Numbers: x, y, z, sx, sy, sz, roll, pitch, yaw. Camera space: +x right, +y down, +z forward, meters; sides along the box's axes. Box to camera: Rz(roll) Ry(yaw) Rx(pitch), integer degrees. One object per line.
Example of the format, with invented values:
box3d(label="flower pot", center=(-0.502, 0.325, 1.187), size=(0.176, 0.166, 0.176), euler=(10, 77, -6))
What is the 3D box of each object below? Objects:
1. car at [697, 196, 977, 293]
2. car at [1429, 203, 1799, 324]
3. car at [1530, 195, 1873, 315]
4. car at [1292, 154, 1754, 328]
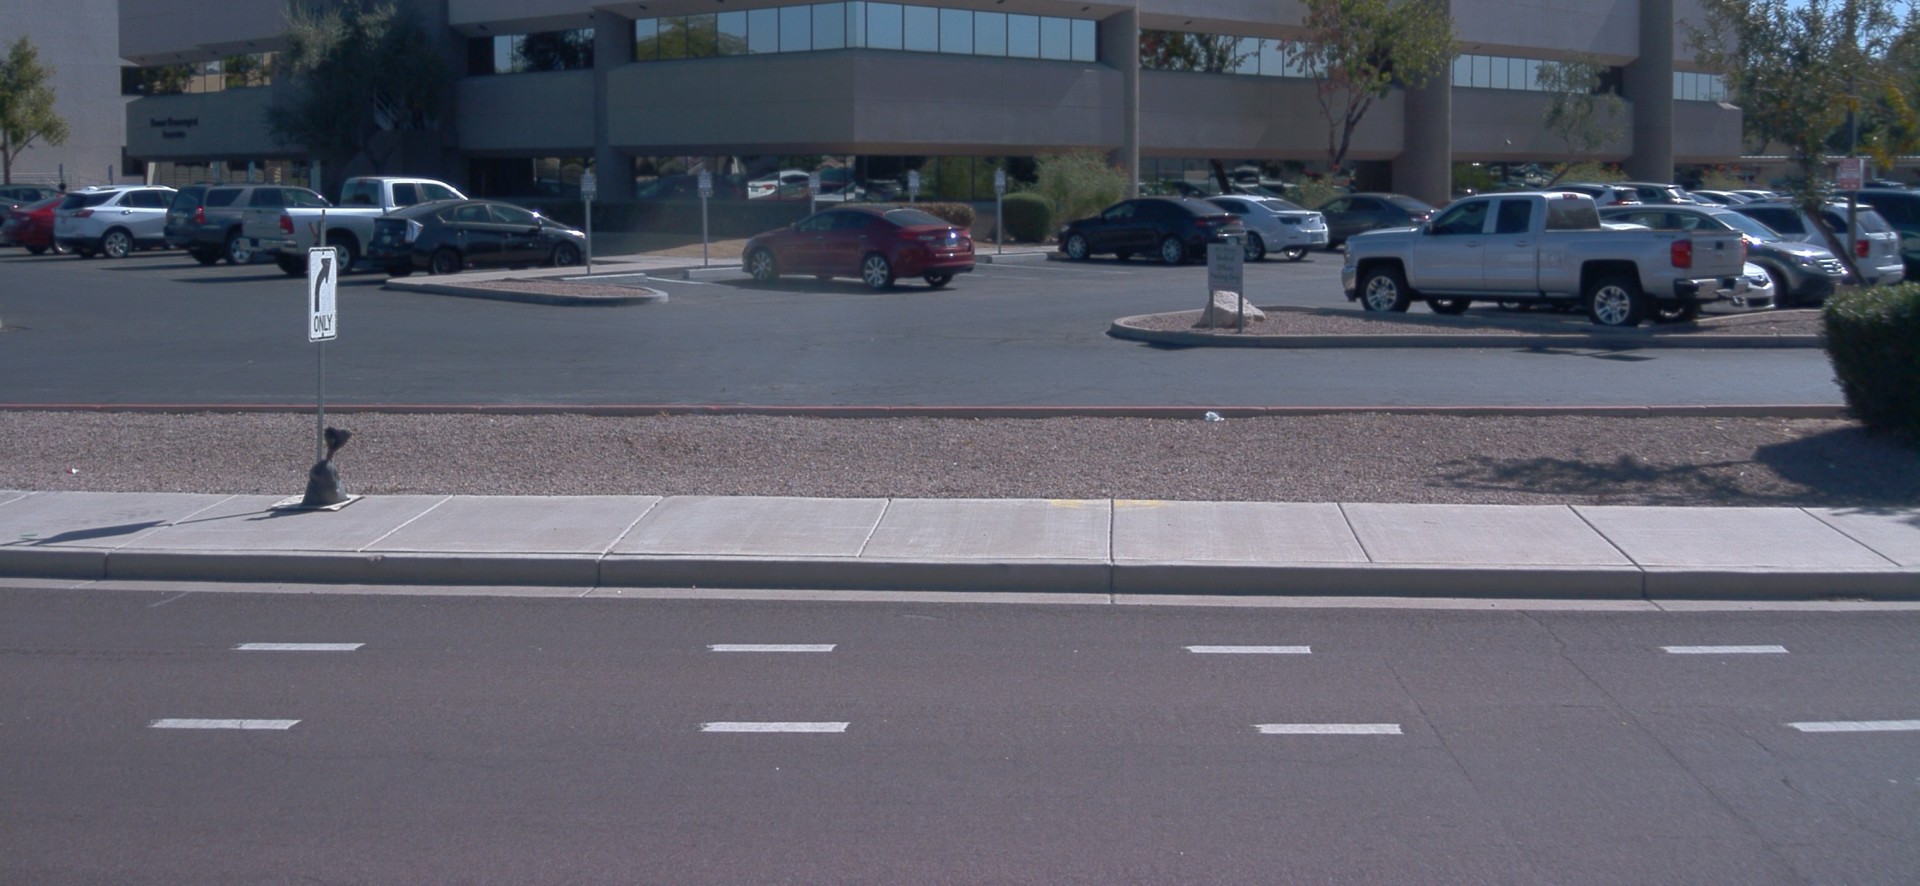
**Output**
box3d(label="car", center=(-2.261, -3.581, 37.158), size=(4.980, 1.636, 2.022), euler=(4, 5, 40))
box3d(label="car", center=(9.831, -2.758, 31.372), size=(4.921, 1.695, 2.120), euler=(5, 6, 43))
box3d(label="car", center=(11.889, -3.056, 33.412), size=(4.800, 1.795, 2.079), euler=(5, 6, 44))
box3d(label="car", center=(7.853, -2.878, 29.376), size=(6.001, 2.215, 2.224), euler=(5, 5, 43))
